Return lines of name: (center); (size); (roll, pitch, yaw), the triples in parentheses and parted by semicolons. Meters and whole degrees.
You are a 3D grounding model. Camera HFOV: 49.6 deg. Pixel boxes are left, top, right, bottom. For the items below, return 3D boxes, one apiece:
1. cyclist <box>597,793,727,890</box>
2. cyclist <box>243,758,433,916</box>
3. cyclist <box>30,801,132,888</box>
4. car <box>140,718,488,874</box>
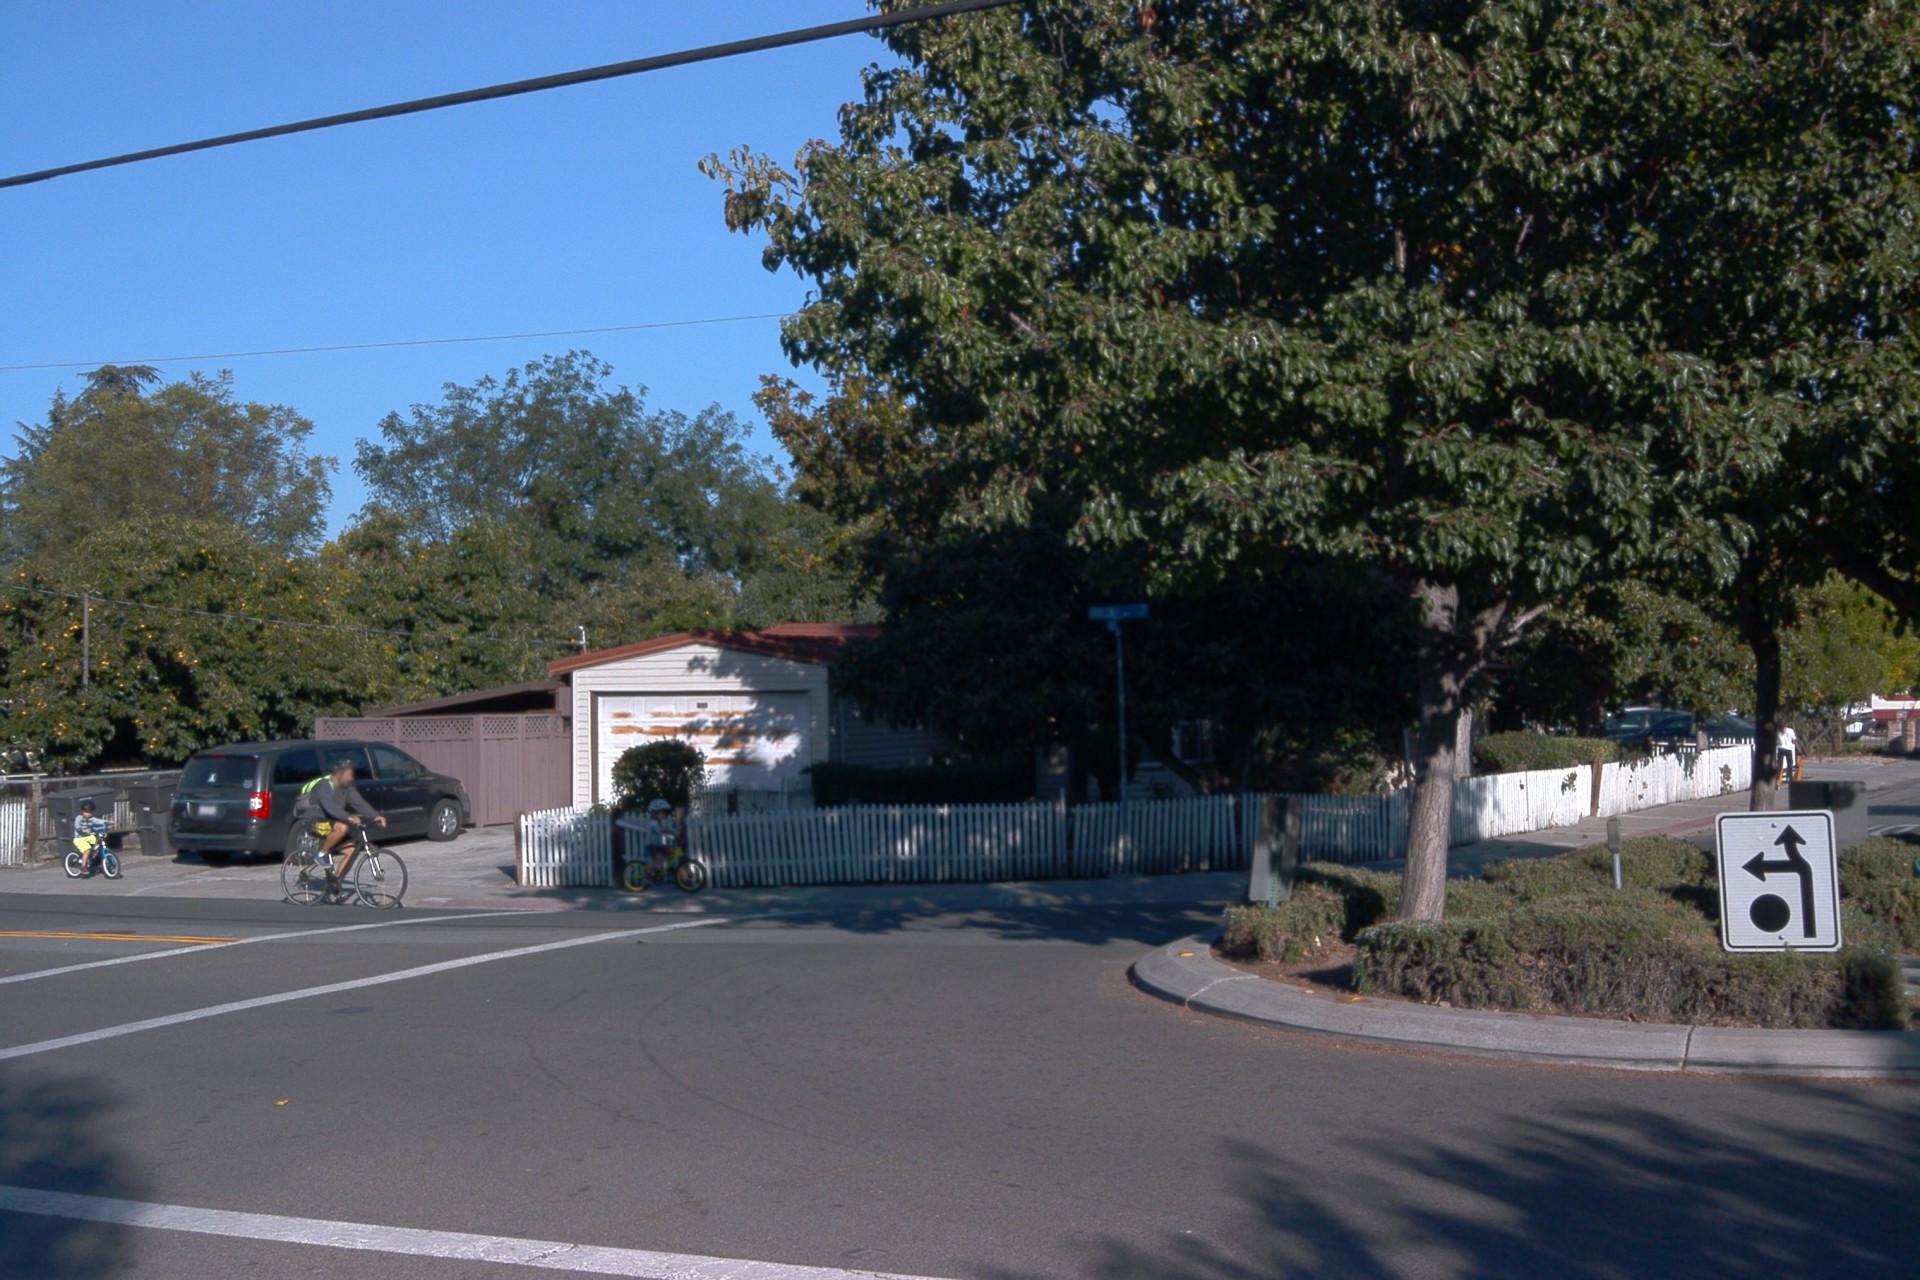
cyclist: (-3.538, 2.387, 24.715); (1.330, 1.030, 0.692); (1, 0, 19)
cyclist: (-7.202, 2.258, 24.083); (1.950, 1.668, 0.824); (1, 0, 18)
cyclist: (-12.025, 2.791, 28.438); (1.202, 1.060, 0.649); (1, 0, 28)
car: (-9.530, 2.236, 31.151); (2.140, 1.930, 4.988); (1, 0, 25)
